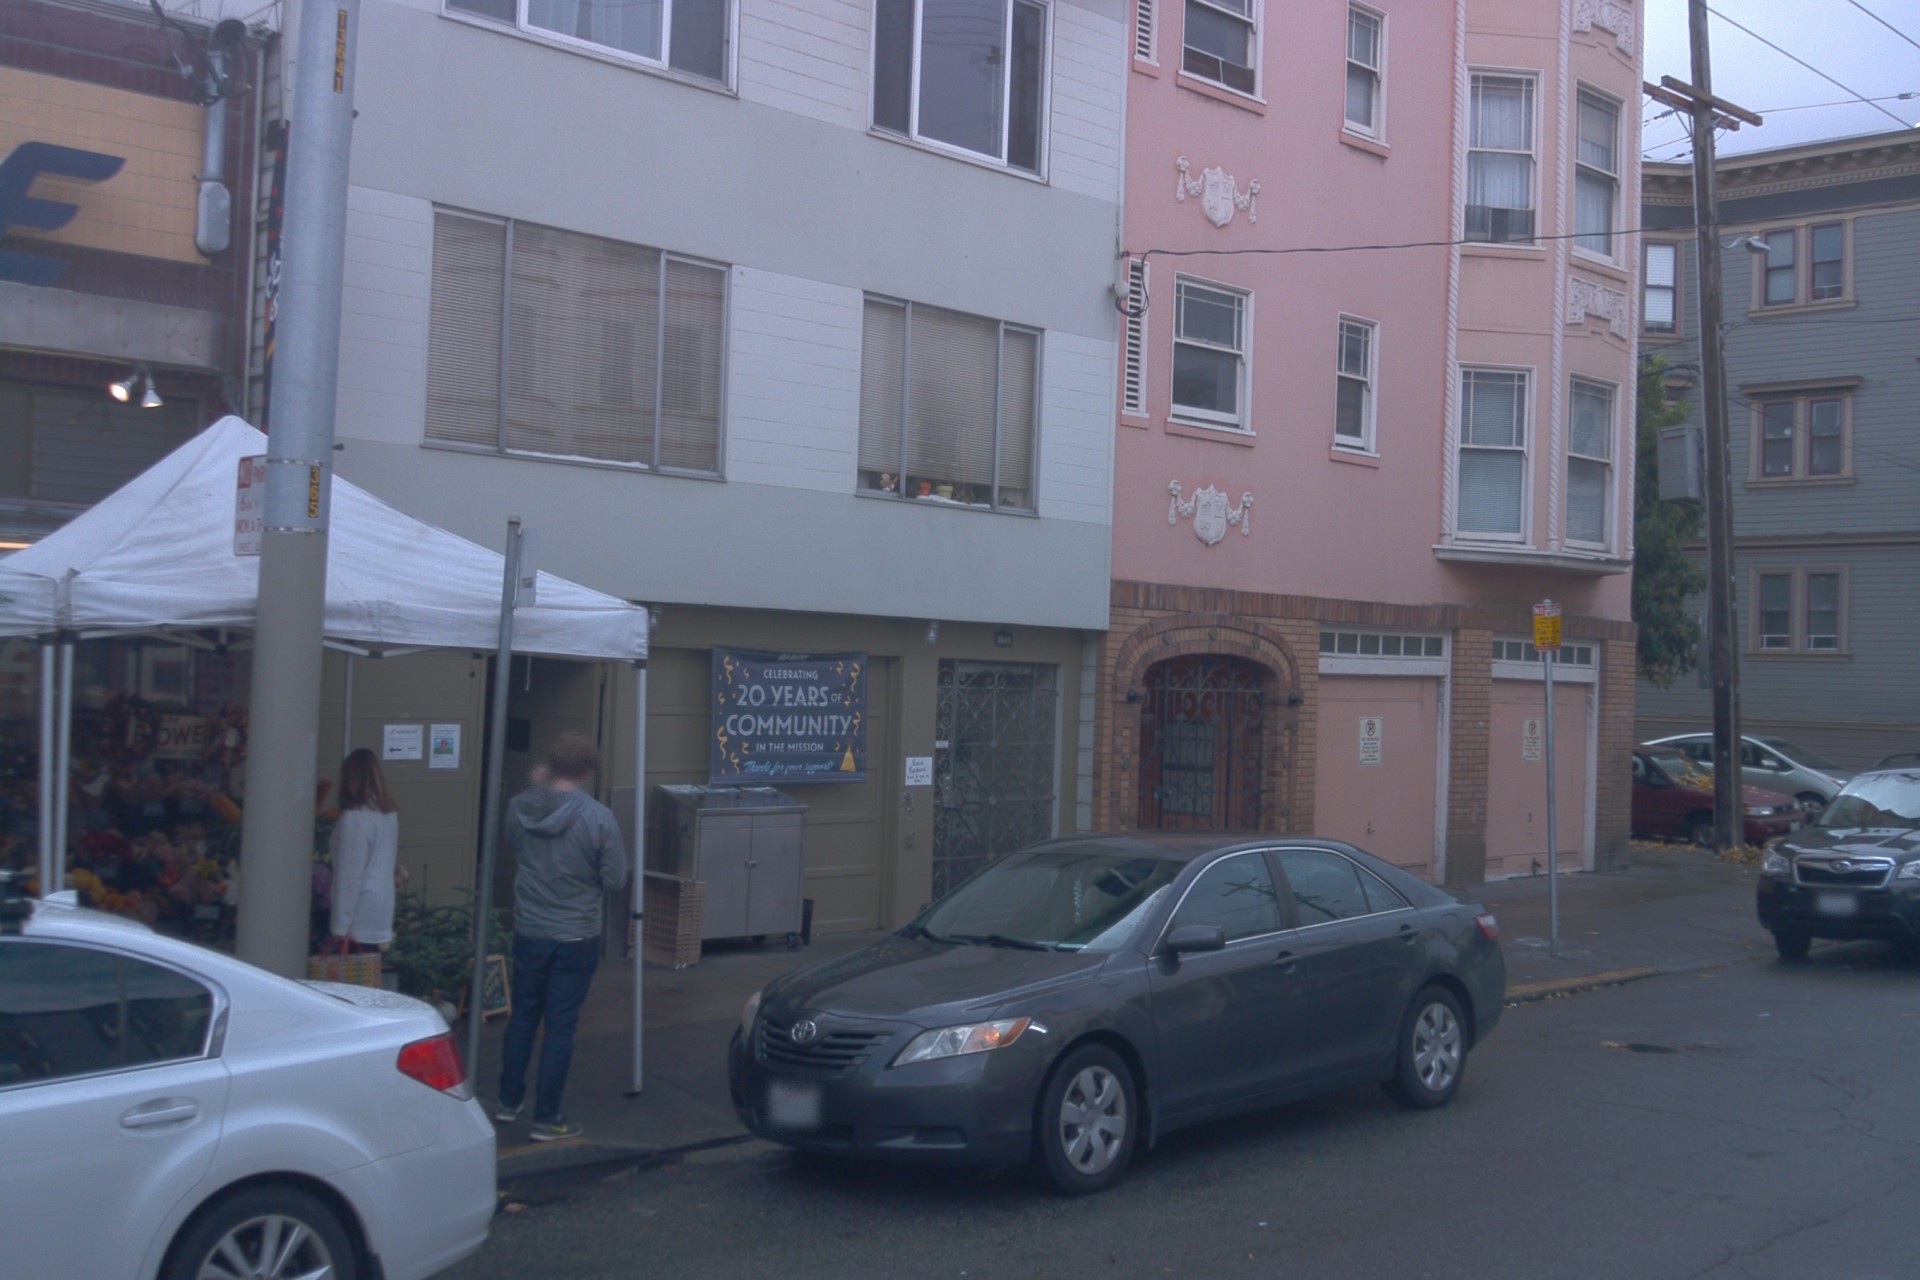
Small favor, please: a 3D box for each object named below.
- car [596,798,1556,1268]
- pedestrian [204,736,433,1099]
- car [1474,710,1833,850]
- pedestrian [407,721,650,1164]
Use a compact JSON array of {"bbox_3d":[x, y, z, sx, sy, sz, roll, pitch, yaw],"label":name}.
[{"bbox_3d":[0.813,1.665,10.279,2.107,1.480,4.819,0,-1,43],"label":"car"},{"bbox_3d":[-3.158,1.331,10.261,0.740,1.670,0.762,1,-1,17],"label":"pedestrian"},{"bbox_3d":[9.574,1.876,28.843,4.313,1.670,1.876,1,-1,42],"label":"car"},{"bbox_3d":[-1.912,1.298,9.259,0.756,1.840,0.723,1,-1,18],"label":"pedestrian"}]
